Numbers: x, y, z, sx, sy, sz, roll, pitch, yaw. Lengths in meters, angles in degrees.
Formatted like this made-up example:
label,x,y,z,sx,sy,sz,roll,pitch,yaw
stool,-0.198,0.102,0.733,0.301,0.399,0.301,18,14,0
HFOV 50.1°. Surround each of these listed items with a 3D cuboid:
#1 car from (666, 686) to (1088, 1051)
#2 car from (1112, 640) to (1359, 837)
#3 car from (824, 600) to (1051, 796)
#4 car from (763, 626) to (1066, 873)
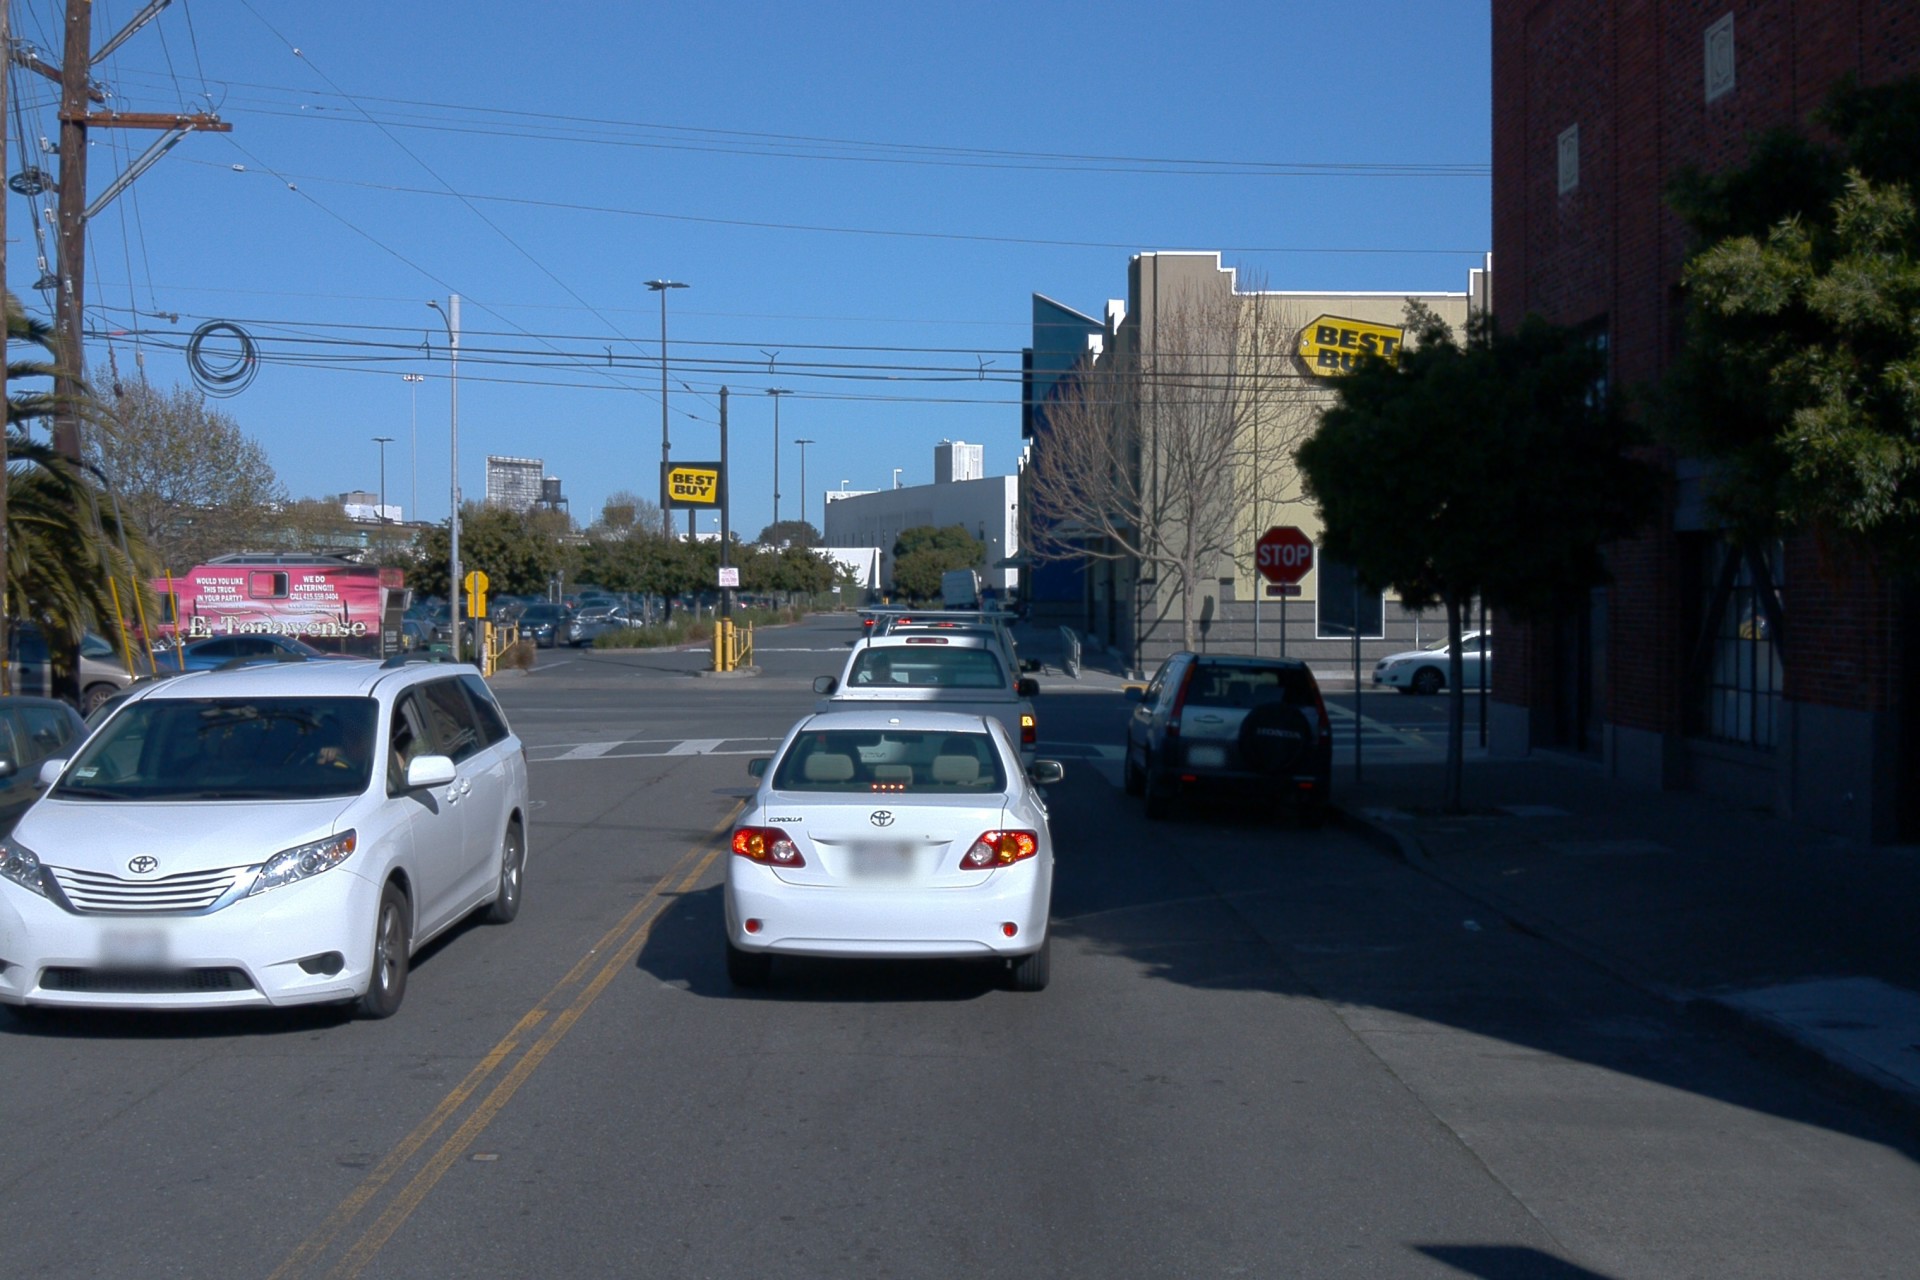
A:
label,x,y,z,sx,sy,sz,roll,pitch,yaw
car,-0.371,1.172,12.349,2.045,1.580,4.504,1,1,1
car,2.732,0.916,21.341,2.017,1.730,4.285,1,1,1
car,-0.137,0.600,25.655,2.386,2.140,5.556,1,1,4
car,-0.367,0.854,19.183,2.386,1.880,5.557,1,1,0
